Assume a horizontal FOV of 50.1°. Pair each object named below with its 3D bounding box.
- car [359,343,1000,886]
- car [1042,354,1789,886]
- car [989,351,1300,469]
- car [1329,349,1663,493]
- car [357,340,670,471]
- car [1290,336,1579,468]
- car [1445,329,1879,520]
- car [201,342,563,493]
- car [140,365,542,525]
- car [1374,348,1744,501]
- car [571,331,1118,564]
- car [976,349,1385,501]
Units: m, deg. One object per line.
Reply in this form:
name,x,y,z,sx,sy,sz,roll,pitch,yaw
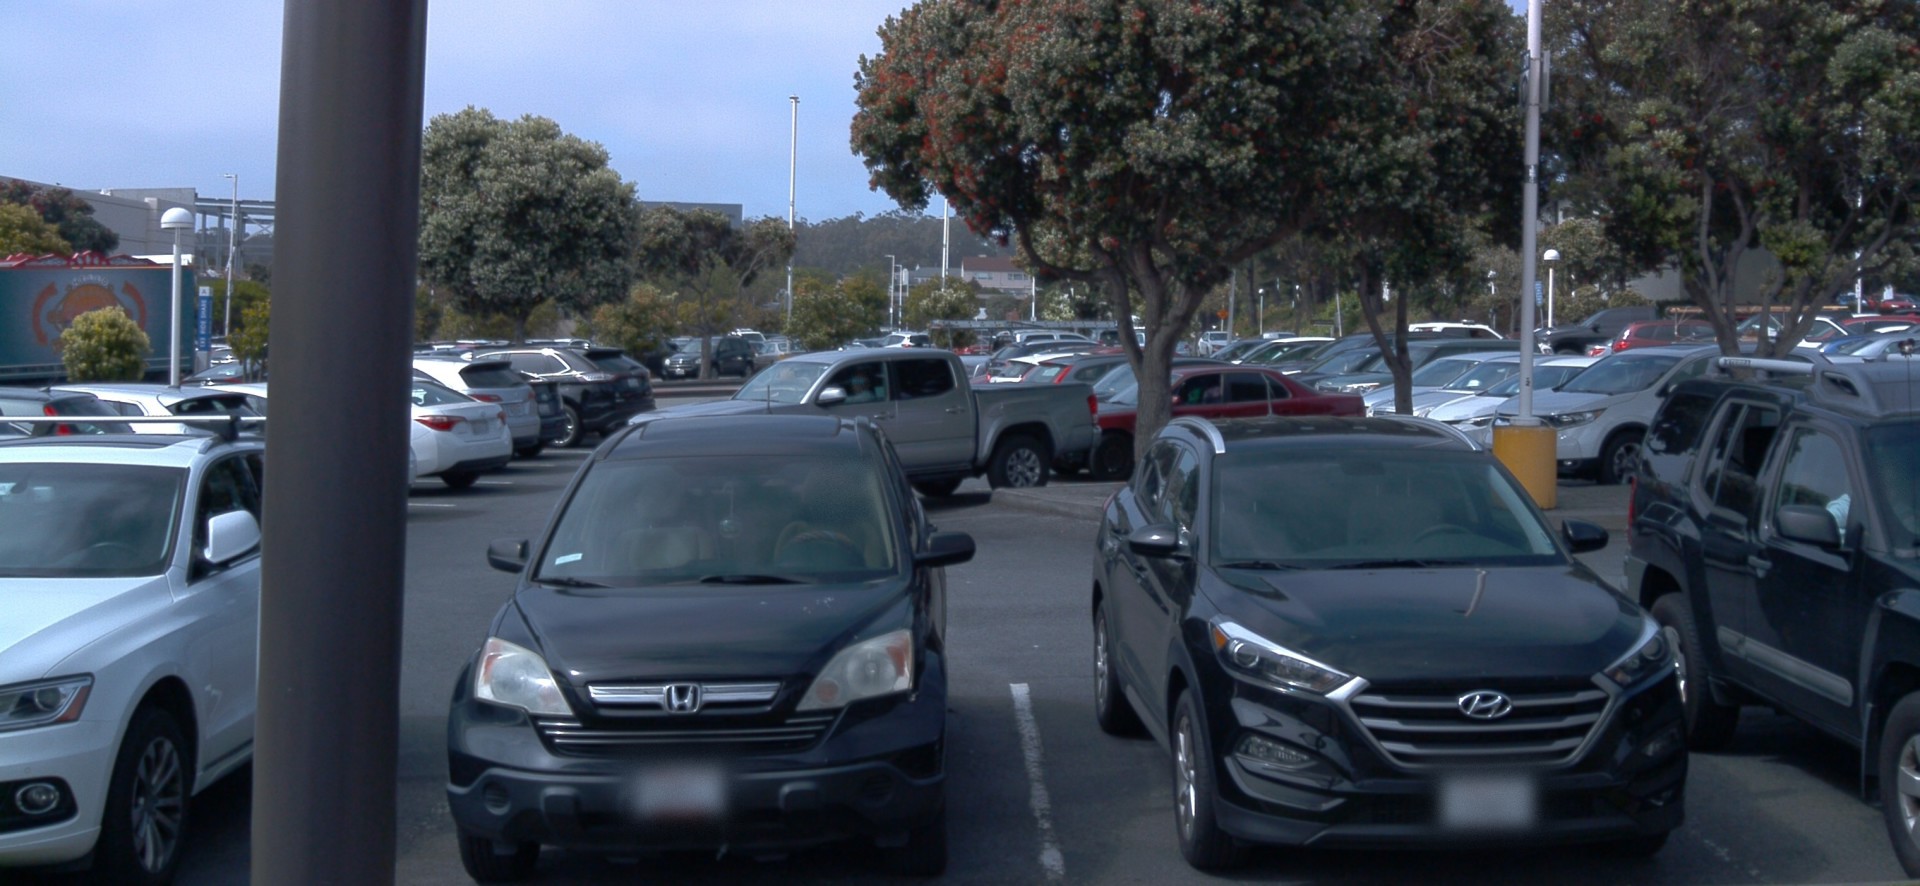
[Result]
car,-1.015,0.611,9.166,2.129,1.863,4.628,0,5,-2
car,1.654,0.682,9.345,2.167,1.893,4.719,0,5,-3
car,2.844,-0.565,31.943,4.337,1.546,2.118,-2,4,-18
car,7.438,-0.363,28.563,4.103,1.686,2.015,-2,4,-21
car,-7.538,-0.691,34.717,4.829,1.927,2.009,2,3,19
car,7.780,-0.724,33.789,4.253,1.907,1.957,-2,3,-18
car,8.070,-0.300,23.642,4.520,1.836,2.107,-2,4,-24
car,-8.148,-0.421,29.016,4.612,1.826,2.023,2,4,21
car,-7.778,-0.040,25.898,4.480,1.666,2.061,2,4,19
car,7.577,-0.298,26.058,4.109,1.636,2.025,-2,4,-19
car,-1.172,-0.094,22.404,5.592,2.015,2.303,-4,5,-35
car,2.836,-0.298,26.581,4.856,1.636,2.050,-2,4,-19
